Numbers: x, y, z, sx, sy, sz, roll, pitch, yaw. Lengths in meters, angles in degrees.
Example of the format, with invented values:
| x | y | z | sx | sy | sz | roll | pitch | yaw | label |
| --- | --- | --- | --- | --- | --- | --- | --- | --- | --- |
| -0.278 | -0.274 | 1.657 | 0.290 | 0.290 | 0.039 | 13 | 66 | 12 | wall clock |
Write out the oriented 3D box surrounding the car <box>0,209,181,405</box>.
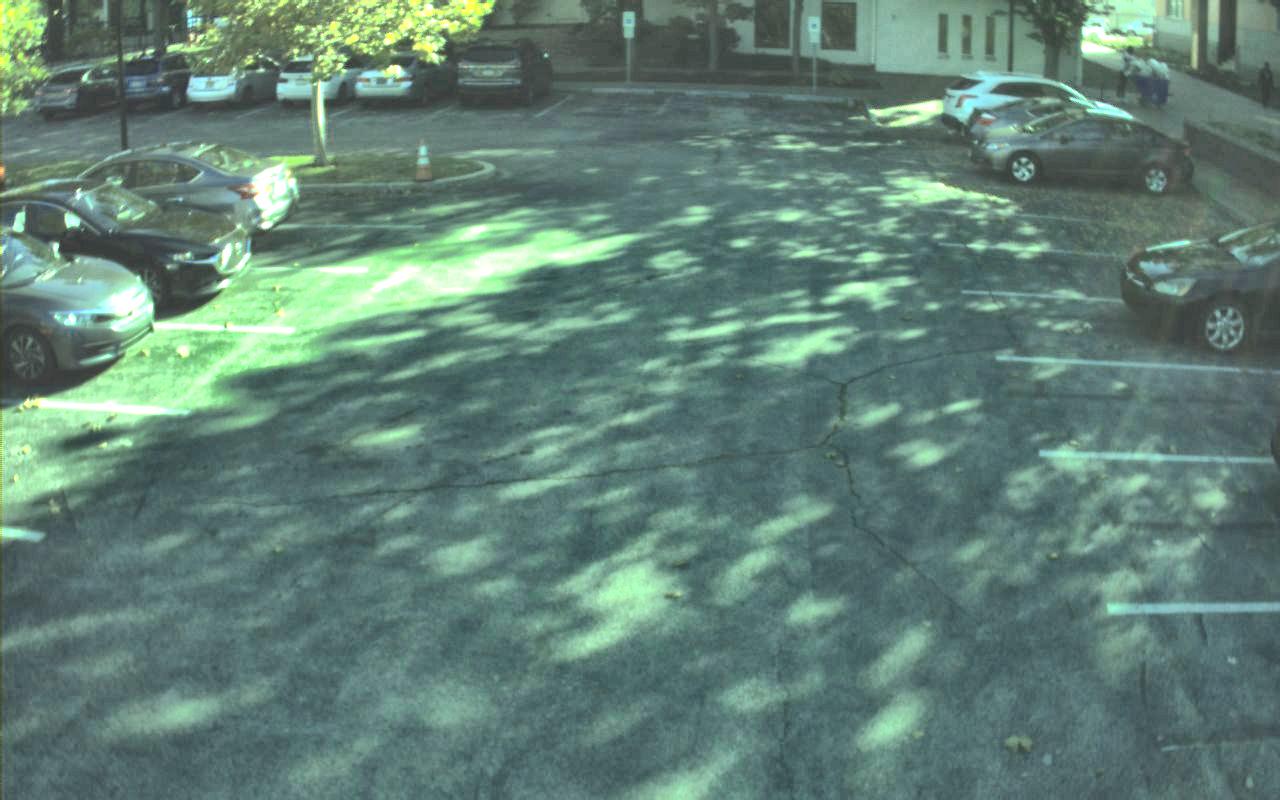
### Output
| x | y | z | sx | sy | sz | roll | pitch | yaw | label |
| --- | --- | --- | --- | --- | --- | --- | --- | --- | --- |
| -7.206 | -0.979 | 11.817 | 4.361 | 1.545 | 1.927 | 1 | 16 | 6 | car |

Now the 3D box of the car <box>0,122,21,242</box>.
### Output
| x | y | z | sx | sy | sz | roll | pitch | yaw | label |
| --- | --- | --- | --- | --- | --- | --- | --- | --- | --- |
| -14.157 | -4.035 | 20.051 | 4.700 | 1.722 | 2.032 | 1 | 16 | 5 | car |

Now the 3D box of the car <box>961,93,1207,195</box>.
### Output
| x | y | z | sx | sy | sz | roll | pitch | yaw | label |
| --- | --- | --- | --- | --- | --- | --- | --- | --- | --- |
| 8.496 | -4.918 | 22.729 | 4.608 | 1.593 | 1.996 | 1 | 16 | 7 | car |

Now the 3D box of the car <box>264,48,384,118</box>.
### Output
| x | y | z | sx | sy | sz | roll | pitch | yaw | label |
| --- | --- | --- | --- | --- | --- | --- | --- | --- | --- |
| -8.868 | -8.976 | 33.940 | 1.962 | 1.643 | 4.525 | 1 | 17 | 7 | car |

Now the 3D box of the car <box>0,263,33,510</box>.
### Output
| x | y | z | sx | sy | sz | roll | pitch | yaw | label |
| --- | --- | --- | --- | --- | --- | --- | --- | --- | --- |
| -7.886 | -0.222 | 9.551 | 4.396 | 1.589 | 1.950 | 3 | 17 | 12 | car |

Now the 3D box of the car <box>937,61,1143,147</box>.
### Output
| x | y | z | sx | sy | sz | roll | pitch | yaw | label |
| --- | --- | --- | --- | --- | --- | --- | --- | --- | --- |
| 9.171 | -6.796 | 27.331 | 4.572 | 1.684 | 1.994 | 0 | 16 | 4 | car |

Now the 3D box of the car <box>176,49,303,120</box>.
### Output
| x | y | z | sx | sy | sz | roll | pitch | yaw | label |
| --- | --- | --- | --- | --- | --- | --- | --- | --- | --- |
| -11.574 | -9.143 | 34.208 | 1.958 | 1.643 | 4.499 | 1 | 17 | 9 | car |

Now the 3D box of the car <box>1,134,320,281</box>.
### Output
| x | y | z | sx | sy | sz | roll | pitch | yaw | label |
| --- | --- | --- | --- | --- | --- | --- | --- | --- | --- |
| -6.908 | -2.732 | 16.738 | 4.363 | 1.615 | 1.945 | 0 | 16 | 3 | car |

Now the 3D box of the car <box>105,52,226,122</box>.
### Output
| x | y | z | sx | sy | sz | roll | pitch | yaw | label |
| --- | --- | --- | --- | --- | --- | --- | --- | --- | --- |
| -14.168 | -9.343 | 34.554 | 1.971 | 1.663 | 4.530 | 0 | 17 | 5 | car |

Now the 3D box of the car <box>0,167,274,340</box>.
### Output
| x | y | z | sx | sy | sz | roll | pitch | yaw | label |
| --- | --- | --- | --- | --- | --- | --- | --- | --- | --- |
| -6.863 | -1.774 | 14.183 | 4.404 | 1.638 | 1.950 | 0 | 16 | 3 | car |

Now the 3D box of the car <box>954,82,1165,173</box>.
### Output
| x | y | z | sx | sy | sz | roll | pitch | yaw | label |
| --- | --- | --- | --- | --- | --- | --- | --- | --- | --- |
| 8.802 | -5.733 | 25.011 | 4.352 | 1.579 | 1.947 | 1 | 16 | 8 | car |

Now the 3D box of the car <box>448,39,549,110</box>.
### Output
| x | y | z | sx | sy | sz | roll | pitch | yaw | label |
| --- | --- | --- | --- | --- | --- | --- | --- | --- | --- |
| -3.729 | -8.777 | 32.998 | 1.999 | 1.693 | 4.598 | 0 | 17 | 3 | car |

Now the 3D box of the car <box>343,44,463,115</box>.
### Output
| x | y | z | sx | sy | sz | roll | pitch | yaw | label |
| --- | --- | --- | --- | --- | --- | --- | --- | --- | --- |
| -6.380 | -8.756 | 33.137 | 1.958 | 1.625 | 4.508 | 1 | 17 | 8 | car |
